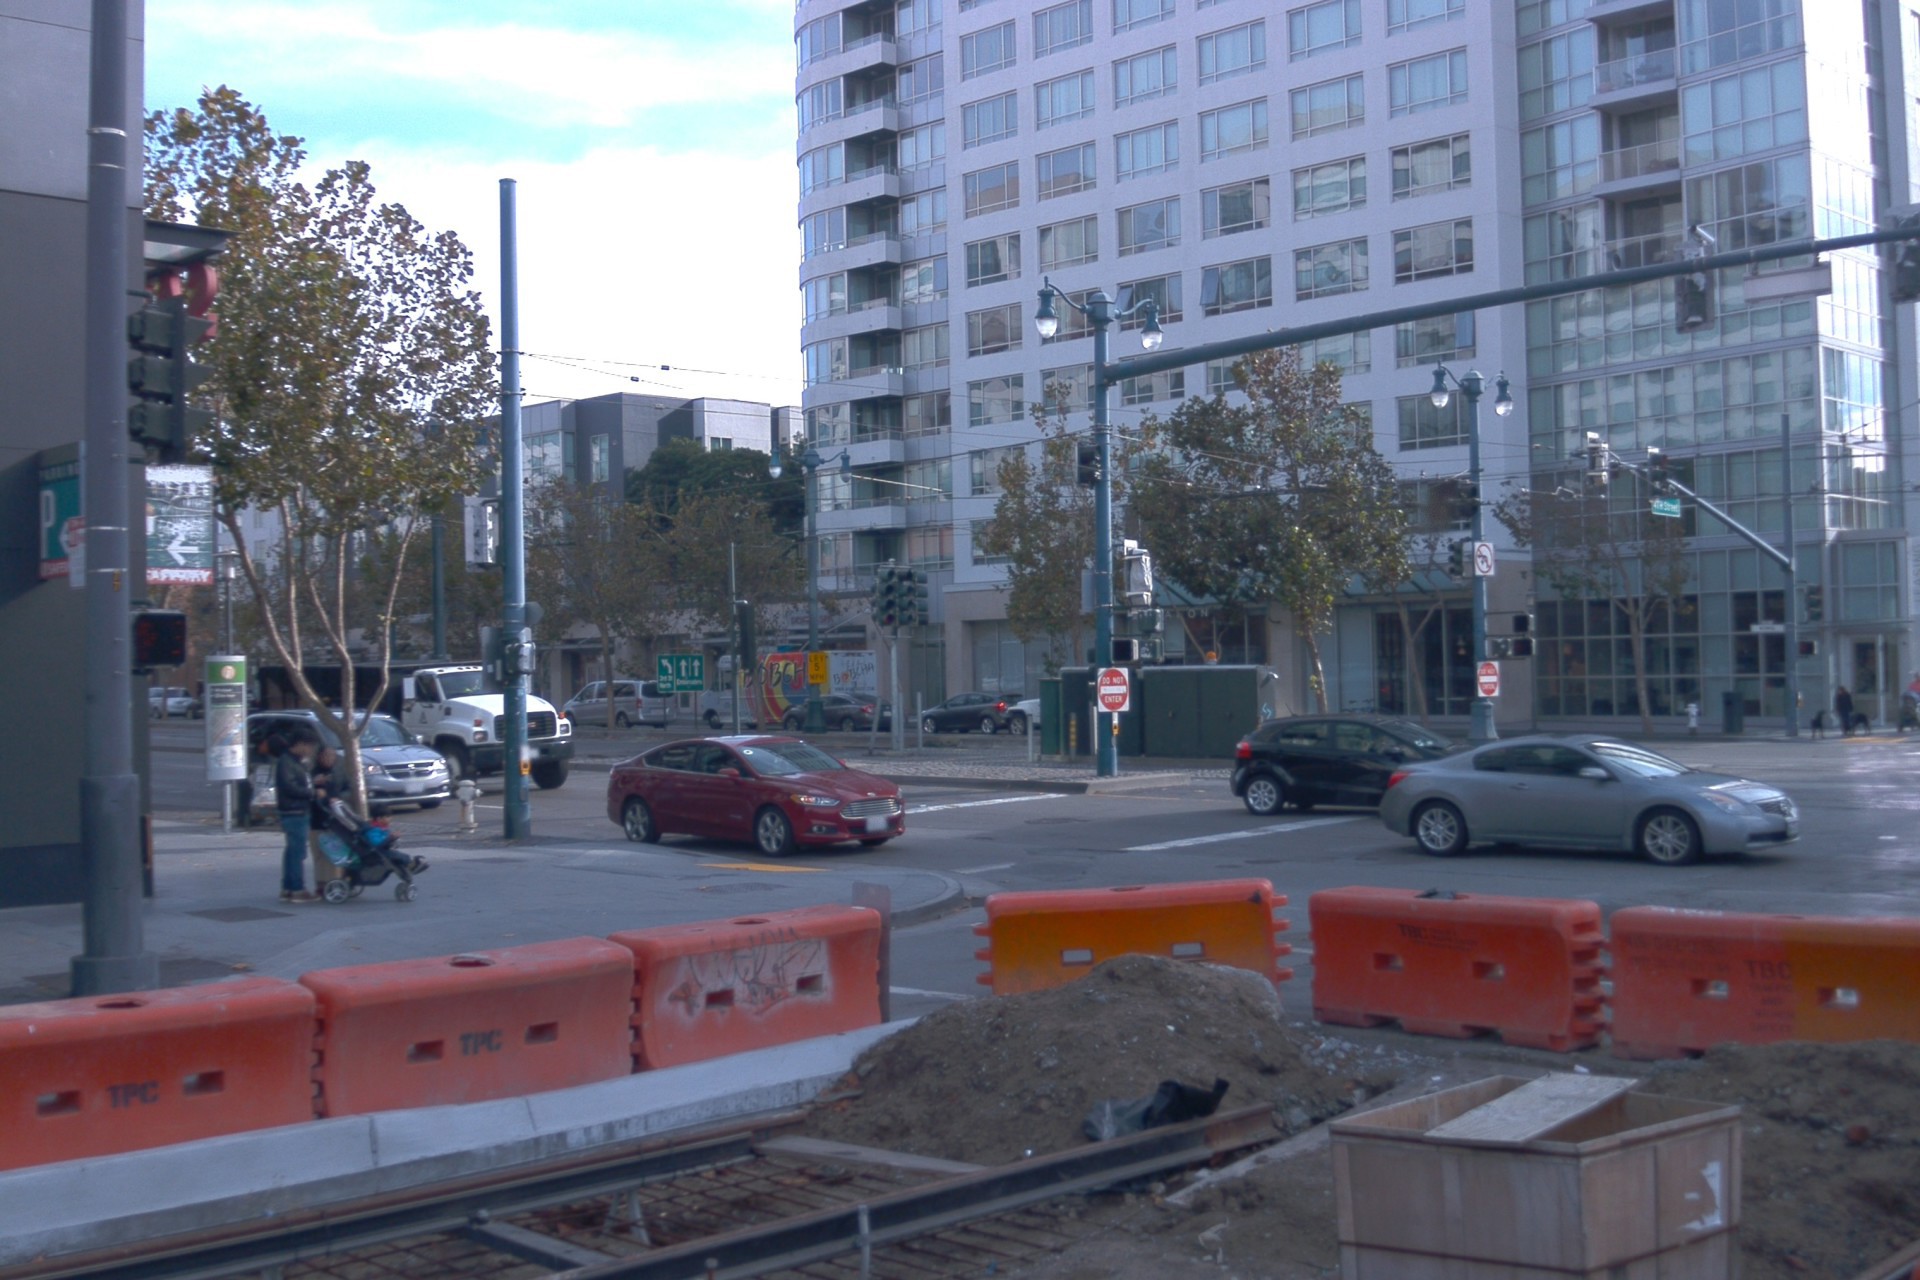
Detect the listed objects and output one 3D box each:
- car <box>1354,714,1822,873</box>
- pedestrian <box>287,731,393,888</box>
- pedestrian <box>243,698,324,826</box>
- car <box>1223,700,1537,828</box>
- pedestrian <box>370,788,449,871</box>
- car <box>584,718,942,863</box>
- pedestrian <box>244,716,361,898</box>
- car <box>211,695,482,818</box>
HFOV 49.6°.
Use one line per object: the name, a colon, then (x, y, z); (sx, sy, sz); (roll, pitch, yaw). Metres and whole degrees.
car: (7.104, 1.671, 23.830); (4.733, 1.488, 2.015); (0, -1, 43)
pedestrian: (-6.053, 1.637, 20.284); (0.723, 1.460, 0.660); (0, -1, 29)
pedestrian: (-9.968, 1.782, 30.649); (0.938, 1.830, 0.985); (0, -1, -7)
car: (5.960, 1.704, 29.613); (4.010, 1.617, 1.782); (0, -1, 33)
pedestrian: (-5.304, 1.817, 20.019); (0.723, 0.752, 0.485); (0, -1, -15)
car: (-2.714, 1.929, 27.781); (4.851, 1.605, 2.114); (0, -1, 44)
pedestrian: (-6.289, 1.571, 19.884); (0.748, 1.660, 0.767); (0, -1, 38)
car: (-10.855, 1.973, 36.548); (5.242, 1.897, 2.282); (0, -1, 44)
